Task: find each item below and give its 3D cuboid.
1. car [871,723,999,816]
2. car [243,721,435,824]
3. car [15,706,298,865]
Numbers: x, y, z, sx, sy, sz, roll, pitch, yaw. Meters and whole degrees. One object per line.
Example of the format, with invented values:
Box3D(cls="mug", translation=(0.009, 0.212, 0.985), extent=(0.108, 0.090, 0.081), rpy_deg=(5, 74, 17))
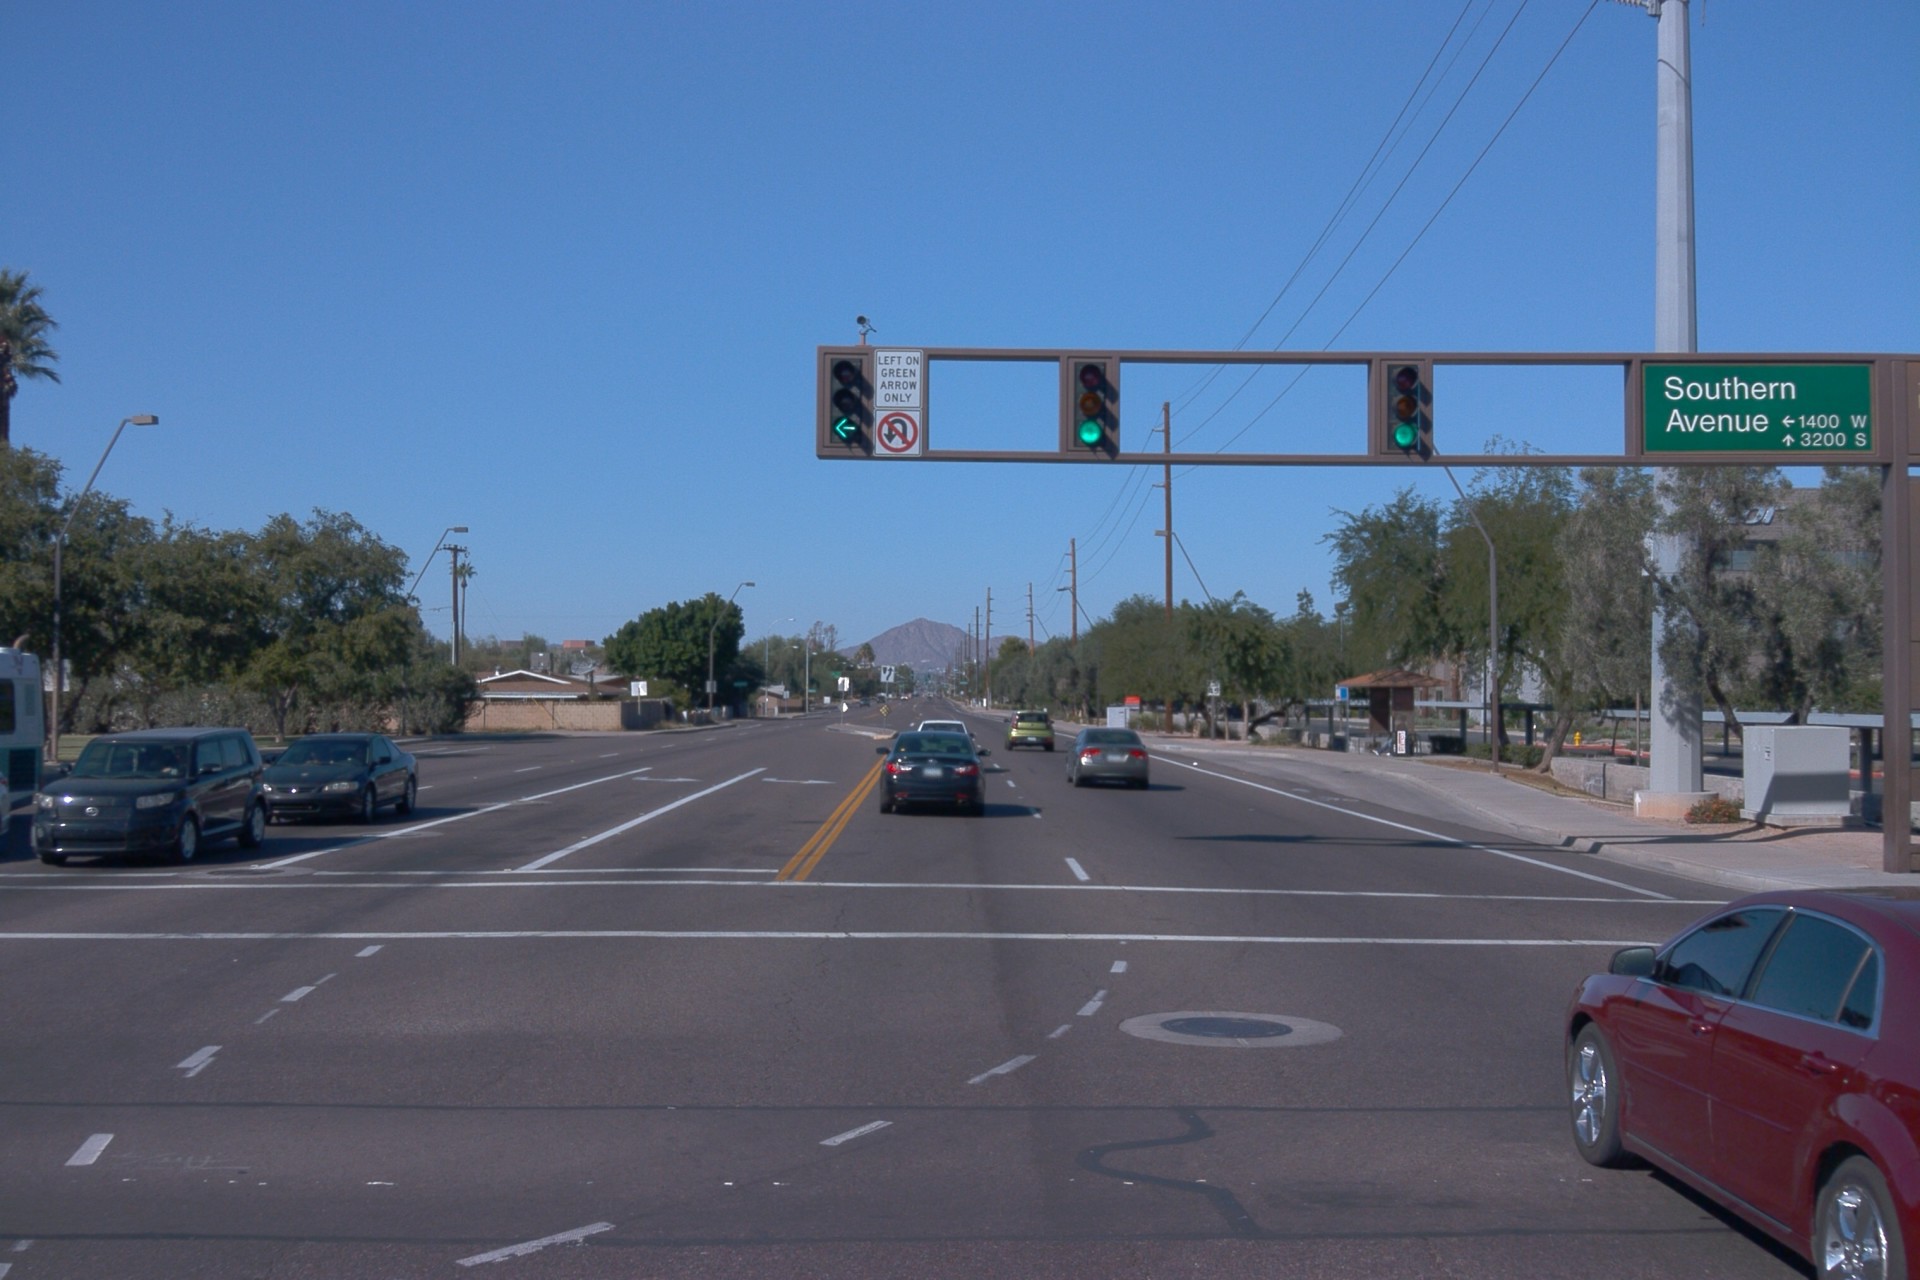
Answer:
Box3D(cls="car", translation=(-0.439, 2.273, 37.291), extent=(2.157, 1.470, 4.806), rpy_deg=(0, -1, 0))
Box3D(cls="car", translation=(-10.030, 2.103, 33.837), extent=(1.823, 1.470, 4.699), rpy_deg=(0, -1, -1))
Box3D(cls="car", translation=(-10.017, 1.764, 26.212), extent=(1.983, 1.790, 4.260), rpy_deg=(0, -1, -1))
